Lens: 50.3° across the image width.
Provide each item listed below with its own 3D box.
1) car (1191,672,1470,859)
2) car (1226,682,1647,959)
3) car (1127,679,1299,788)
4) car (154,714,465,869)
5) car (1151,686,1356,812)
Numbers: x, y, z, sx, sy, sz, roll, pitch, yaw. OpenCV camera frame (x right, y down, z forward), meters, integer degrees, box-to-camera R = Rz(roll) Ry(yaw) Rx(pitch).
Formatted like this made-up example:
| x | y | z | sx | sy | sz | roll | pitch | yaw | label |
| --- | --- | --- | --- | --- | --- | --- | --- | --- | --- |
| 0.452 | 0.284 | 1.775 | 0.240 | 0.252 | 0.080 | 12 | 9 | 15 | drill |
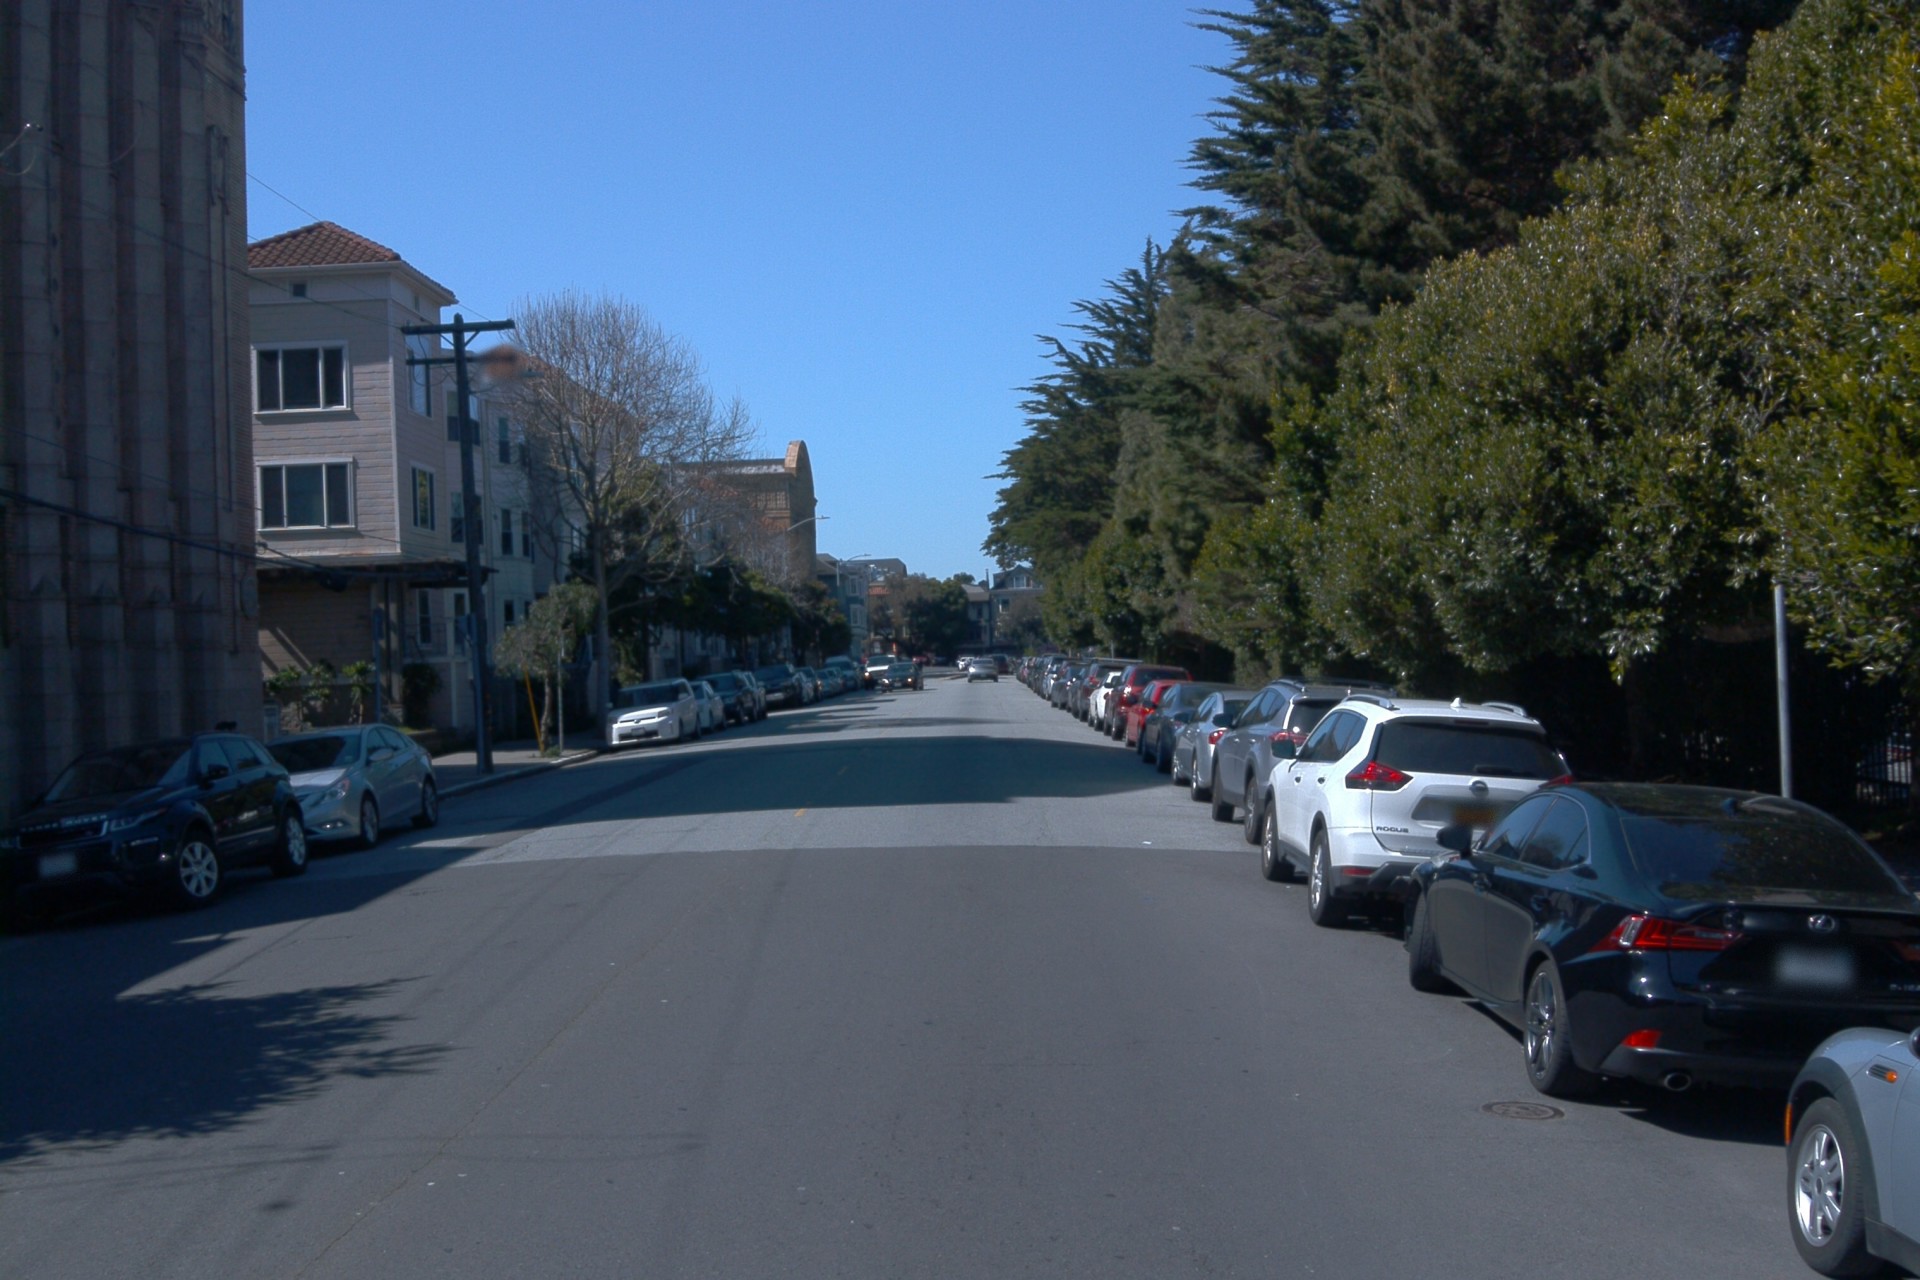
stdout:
| x | y | z | sx | sy | sz | roll | pitch | yaw | label |
| --- | --- | --- | --- | --- | --- | --- | --- | --- | --- |
| 3.872 | 1.257 | 22.234 | 2.159 | 1.710 | 4.706 | 1 | 0 | 0 | car |
| 3.564 | 1.280 | 16.361 | 2.194 | 1.750 | 4.826 | 1 | 0 | 0 | car |
| 4.048 | 1.467 | 33.514 | 2.120 | 1.510 | 4.978 | 1 | 0 | -1 | car |
| -7.847 | 1.778 | 25.254 | 2.231 | 1.500 | 4.942 | 1 | 0 | 0 | car |
| 3.861 | 1.406 | 27.803 | 2.038 | 1.410 | 4.972 | 1 | 0 | 0 | car |
